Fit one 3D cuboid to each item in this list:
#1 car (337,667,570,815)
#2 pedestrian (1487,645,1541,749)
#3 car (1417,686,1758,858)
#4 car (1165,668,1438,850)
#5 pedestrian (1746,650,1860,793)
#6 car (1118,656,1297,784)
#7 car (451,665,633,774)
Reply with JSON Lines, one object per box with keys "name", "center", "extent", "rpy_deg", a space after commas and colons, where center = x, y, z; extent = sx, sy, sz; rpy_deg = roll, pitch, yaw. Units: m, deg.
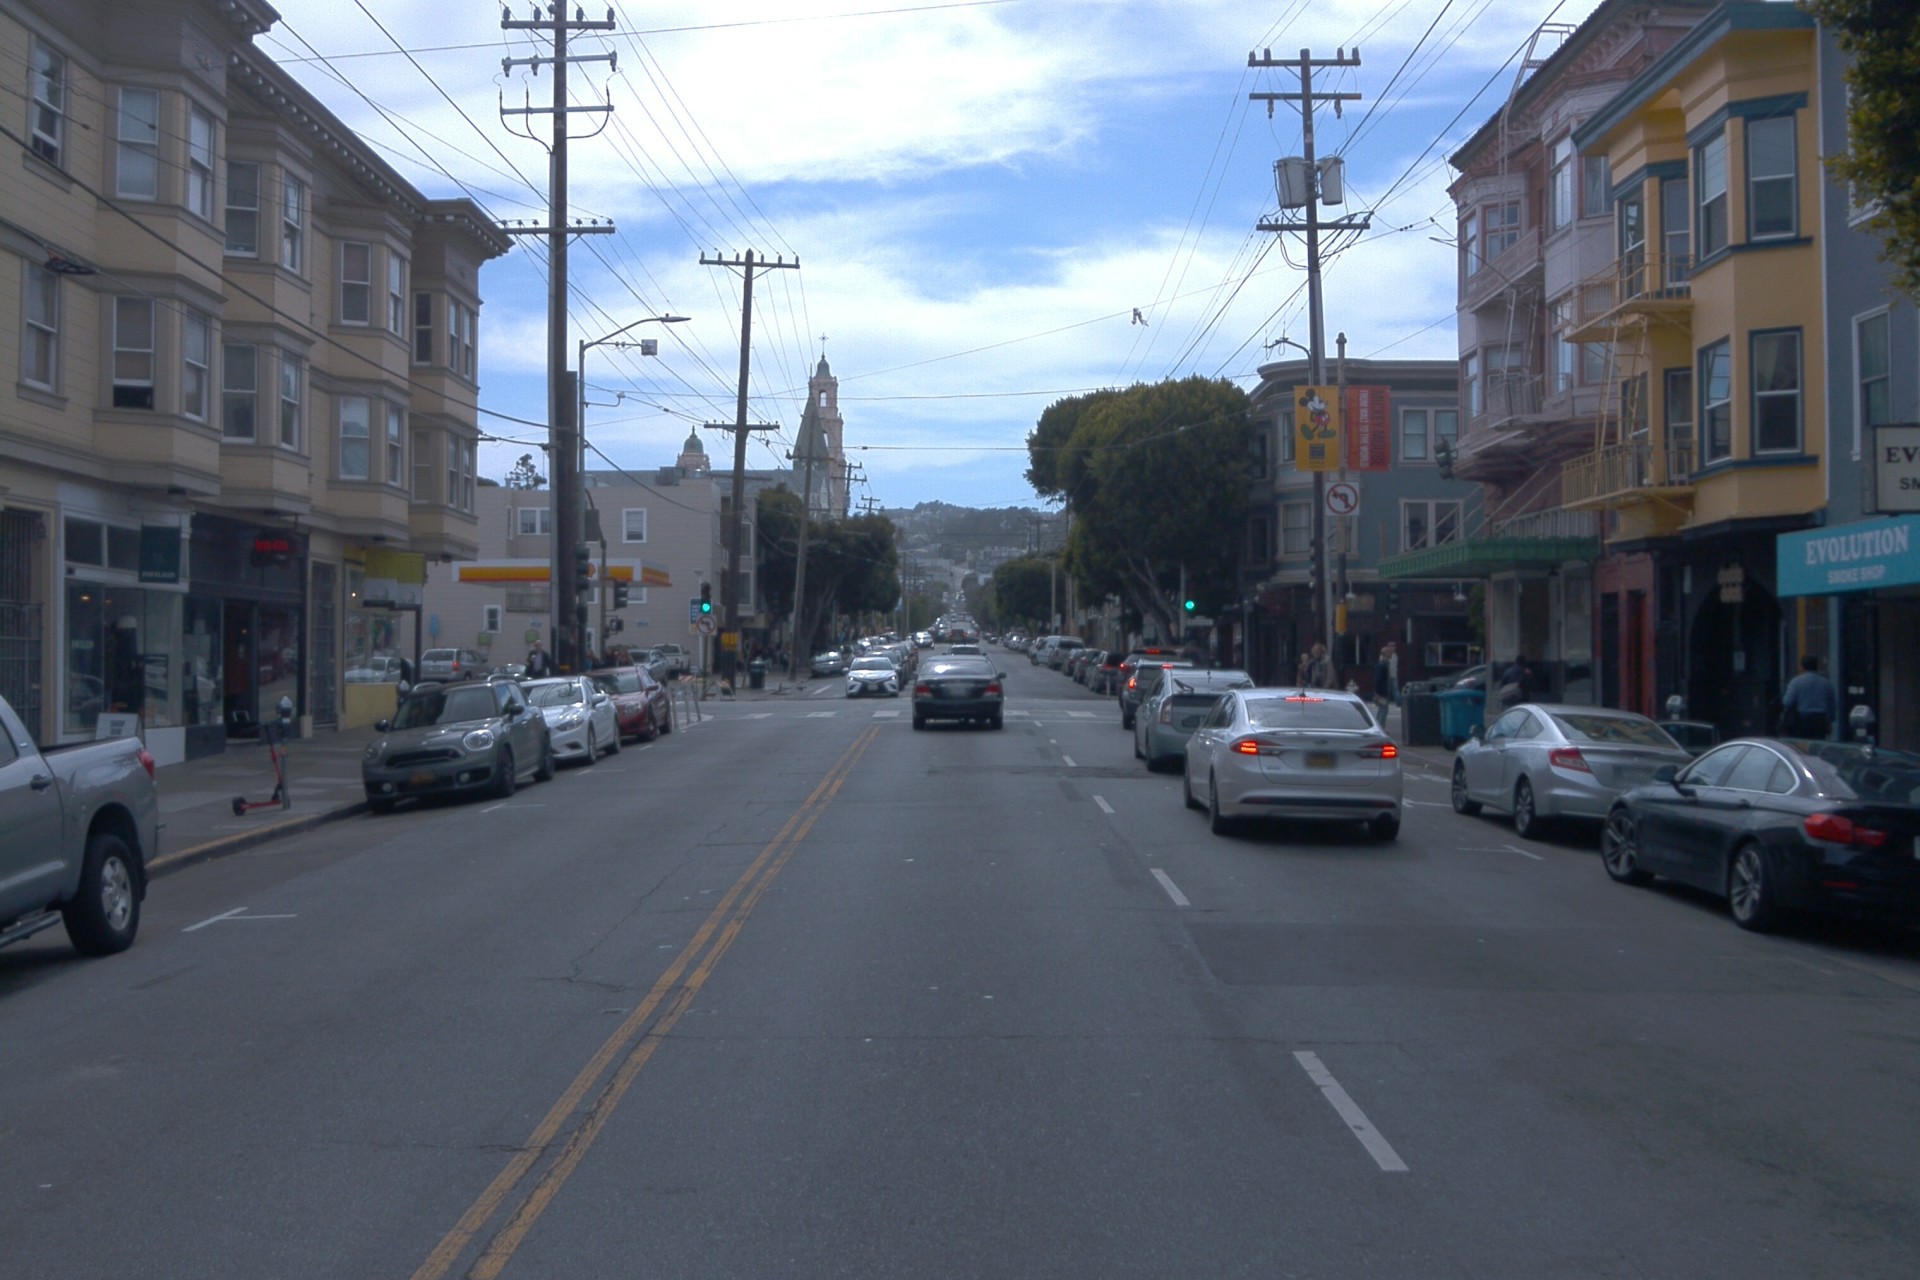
{"name": "car", "center": [-6.678, 1.281, 27.606], "extent": [2.038, 1.690, 4.341], "rpy_deg": [0, 1, 0]}
{"name": "pedestrian", "center": [9.416, 0.950, 34.941], "extent": [0.788, 1.720, 0.961], "rpy_deg": [0, 1, 22]}
{"name": "car", "center": [6.685, 1.353, 22.517], "extent": [2.276, 1.510, 4.546], "rpy_deg": [0, 1, -1]}
{"name": "car", "center": [3.456, 1.155, 21.788], "extent": [2.170, 1.570, 4.849], "rpy_deg": [0, 1, 1]}
{"name": "pedestrian", "center": [10.431, 0.992, 25.472], "extent": [1.077, 1.723, 0.956], "rpy_deg": [0, 1, 7]}
{"name": "car", "center": [3.569, 1.120, 30.496], "extent": [2.106, 1.640, 4.496], "rpy_deg": [0, 1, 0]}
{"name": "car", "center": [-6.751, 1.239, 33.772], "extent": [2.139, 1.520, 4.891], "rpy_deg": [0, 1, -2]}
